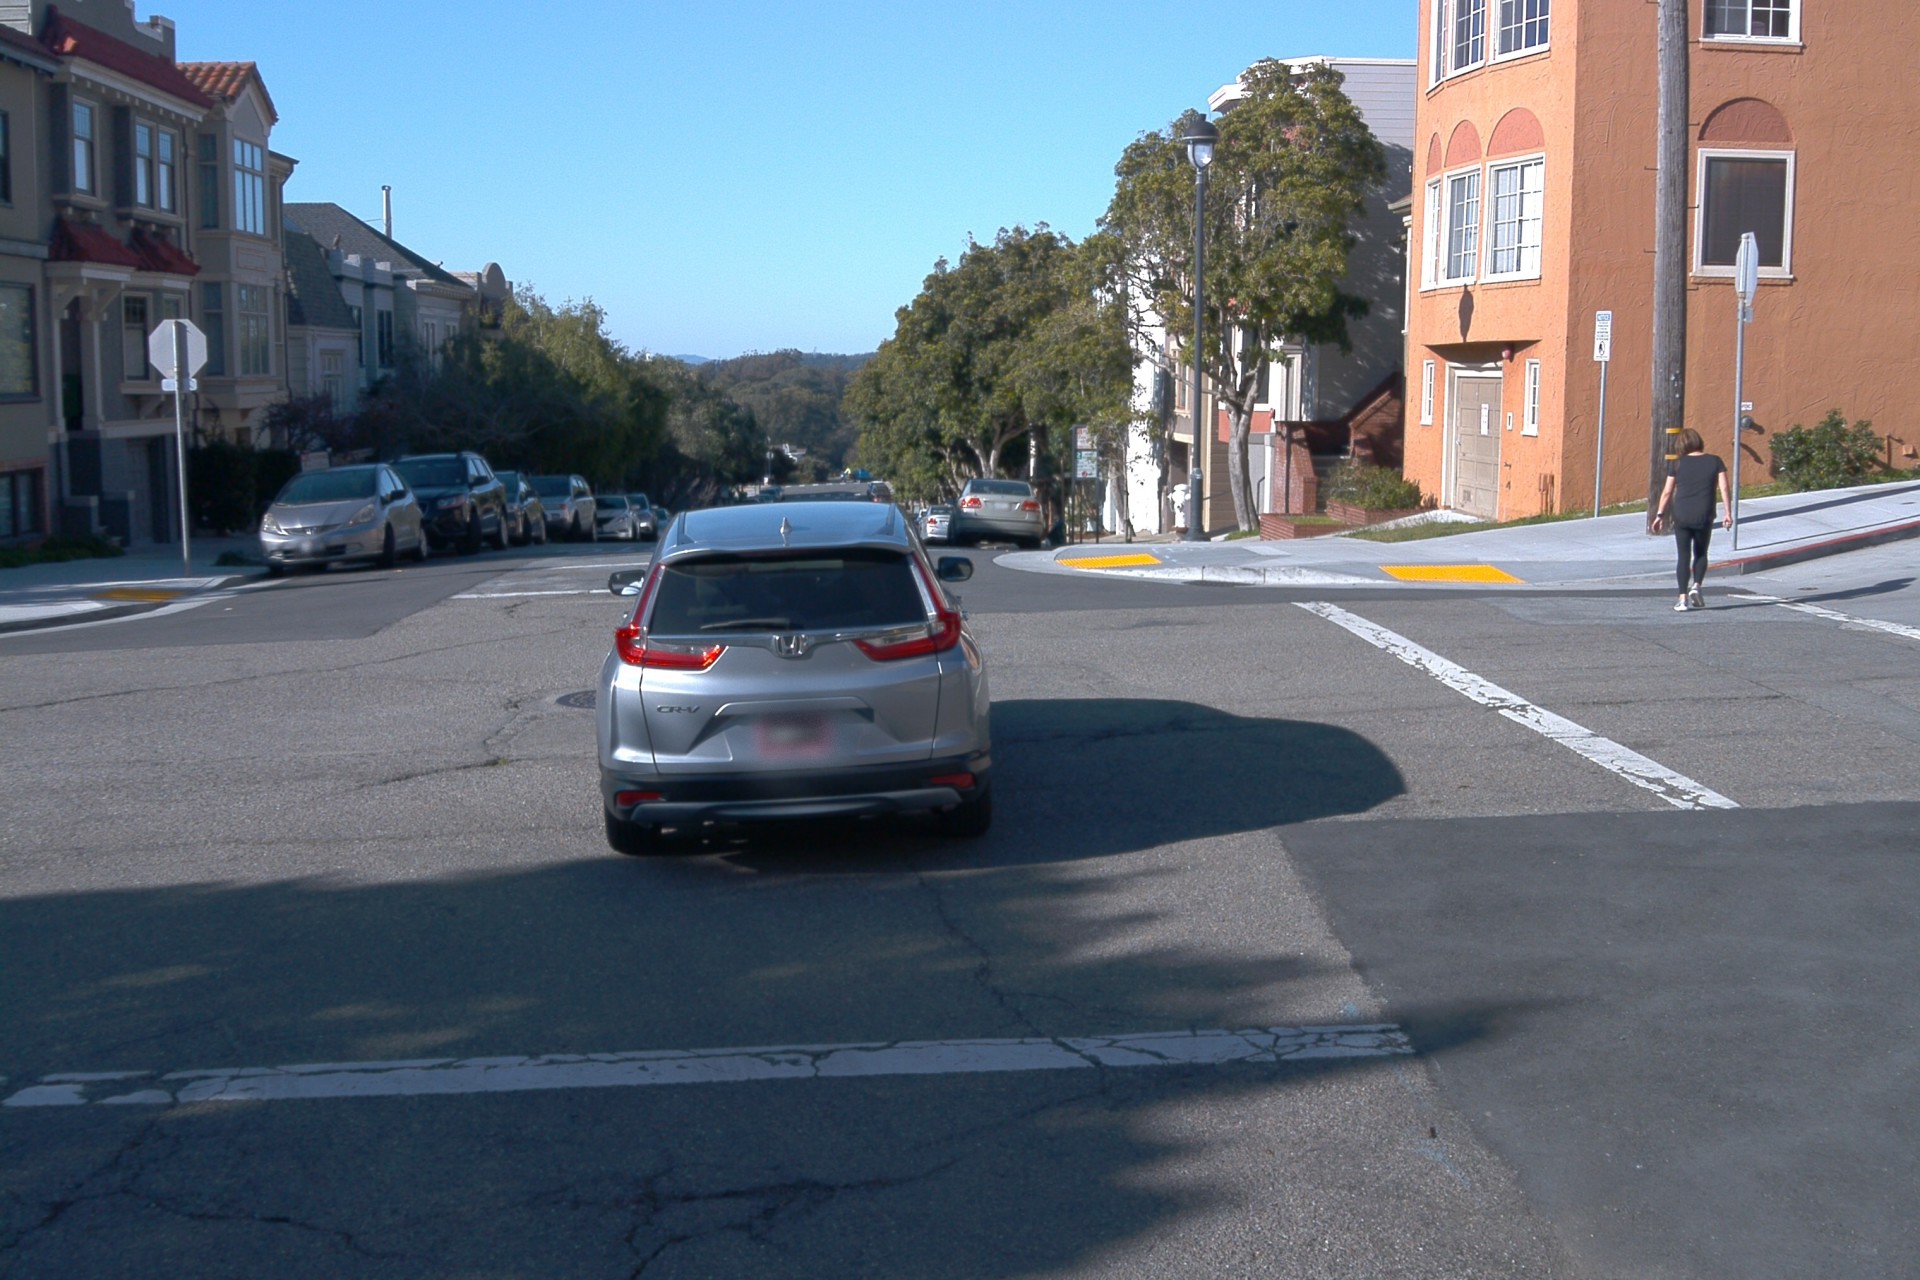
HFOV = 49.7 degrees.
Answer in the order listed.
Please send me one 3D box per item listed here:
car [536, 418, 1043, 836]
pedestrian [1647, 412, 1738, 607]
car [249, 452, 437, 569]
[{"bbox_3d":[-0.917,-0.041,11.339,2.190,1.800,4.696,0,0,-5],"label":"car"},{"bbox_3d":[6.433,-1.112,18.180,0.731,1.620,1.128,0,0,20],"label":"pedestrian"},{"bbox_3d":[-8.643,-1.779,29.322,1.715,1.400,3.763,0,0,-3],"label":"car"}]
